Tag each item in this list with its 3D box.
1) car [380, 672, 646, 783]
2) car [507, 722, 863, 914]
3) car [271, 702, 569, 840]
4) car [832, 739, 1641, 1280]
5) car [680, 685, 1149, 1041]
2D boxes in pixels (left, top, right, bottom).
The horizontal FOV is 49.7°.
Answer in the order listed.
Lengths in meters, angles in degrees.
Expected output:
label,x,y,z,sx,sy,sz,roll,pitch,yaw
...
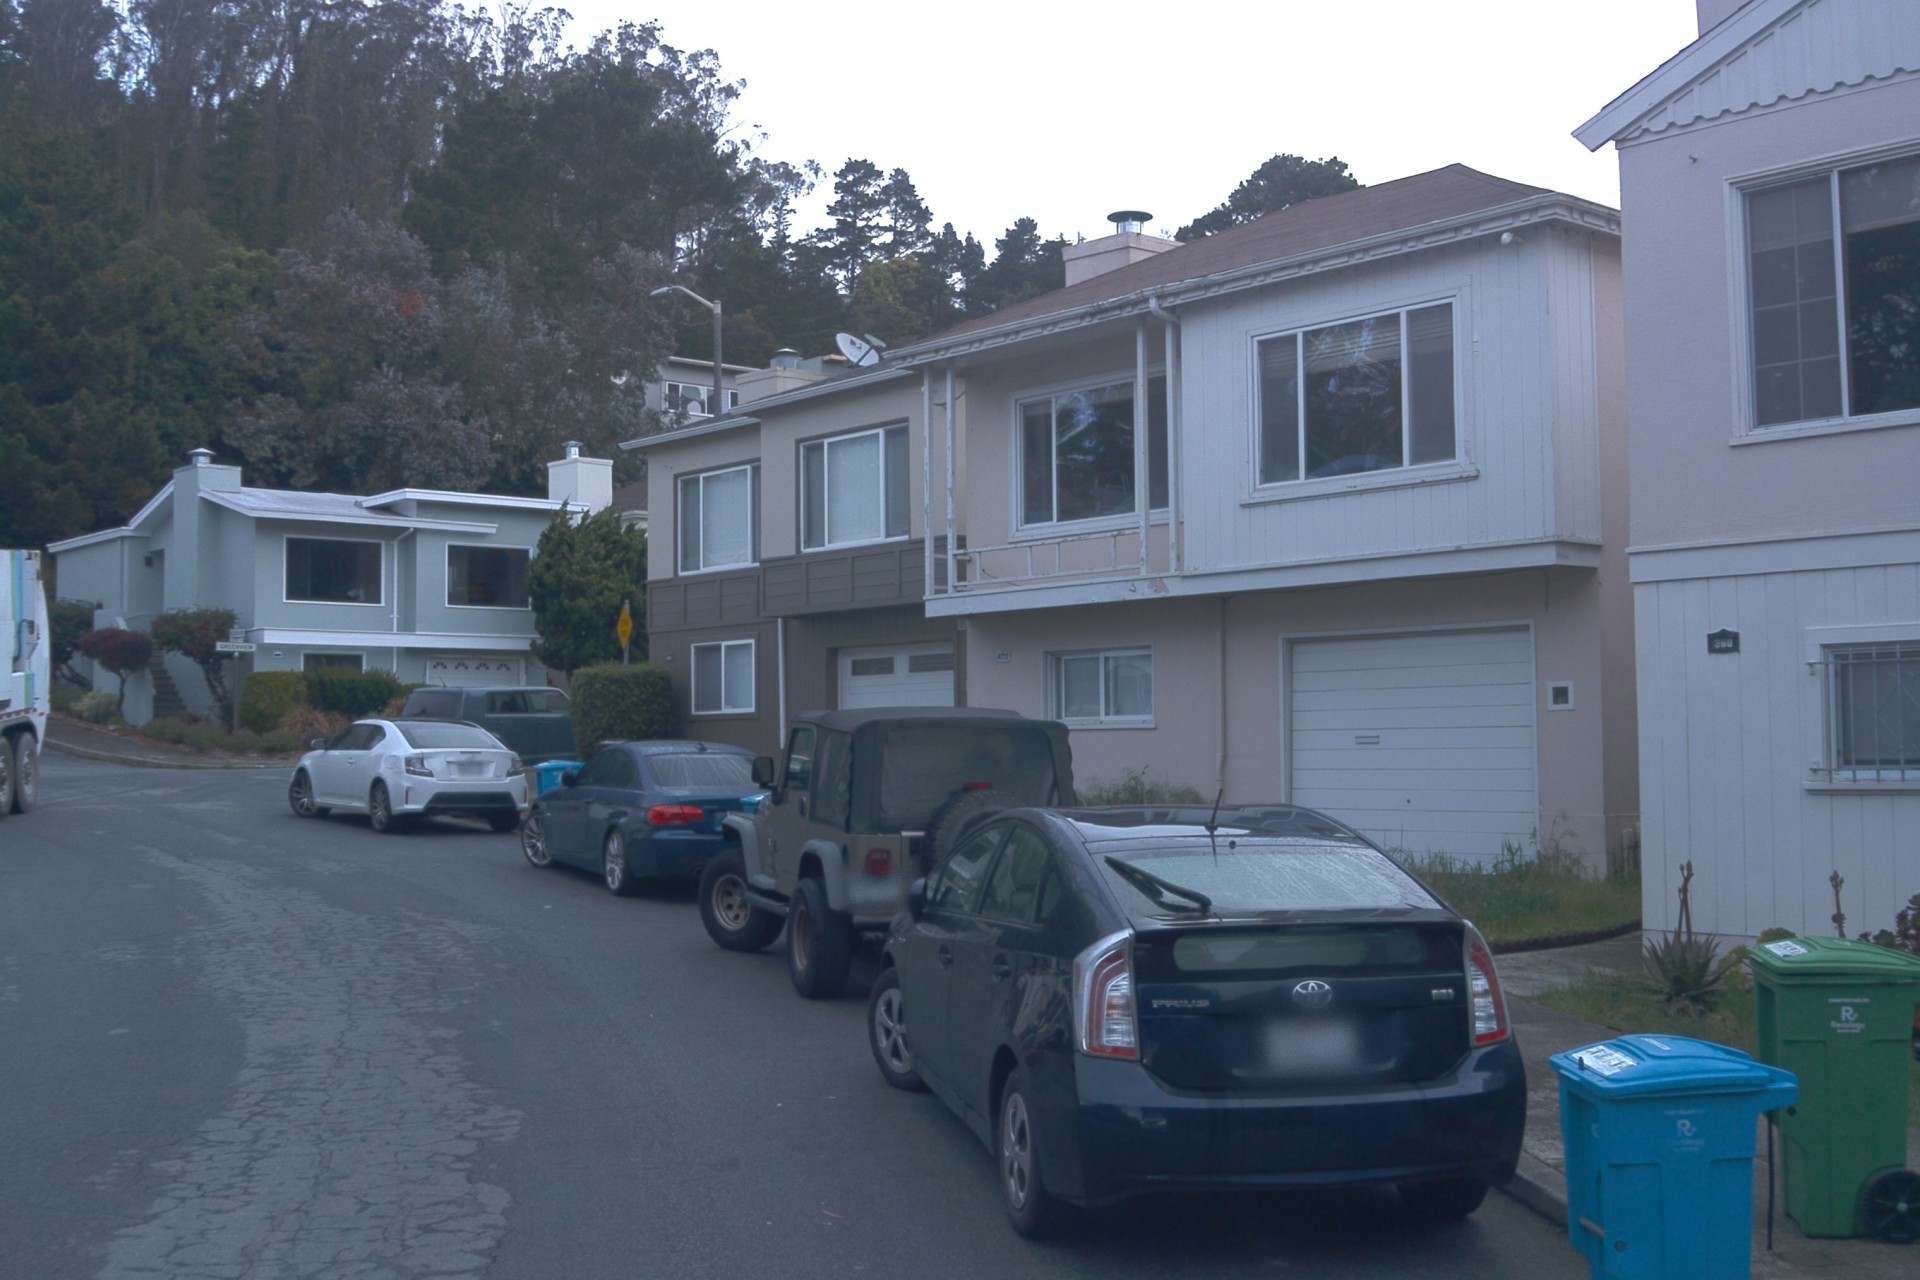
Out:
label,x,y,z,sx,sy,sz,roll,pitch,yaw
car,-7.723,1.466,36.139,2.030,1.770,4.270,0,0,36
car,-2.802,1.606,20.053,2.035,1.450,4.653,0,0,-26
car,-7.222,1.651,27.399,2.200,1.540,4.547,0,0,-38
car,0.812,1.402,8.964,2.072,1.739,4.474,0,0,-12
car,-0.489,1.335,14.156,2.124,1.973,4.024,0,0,-18
